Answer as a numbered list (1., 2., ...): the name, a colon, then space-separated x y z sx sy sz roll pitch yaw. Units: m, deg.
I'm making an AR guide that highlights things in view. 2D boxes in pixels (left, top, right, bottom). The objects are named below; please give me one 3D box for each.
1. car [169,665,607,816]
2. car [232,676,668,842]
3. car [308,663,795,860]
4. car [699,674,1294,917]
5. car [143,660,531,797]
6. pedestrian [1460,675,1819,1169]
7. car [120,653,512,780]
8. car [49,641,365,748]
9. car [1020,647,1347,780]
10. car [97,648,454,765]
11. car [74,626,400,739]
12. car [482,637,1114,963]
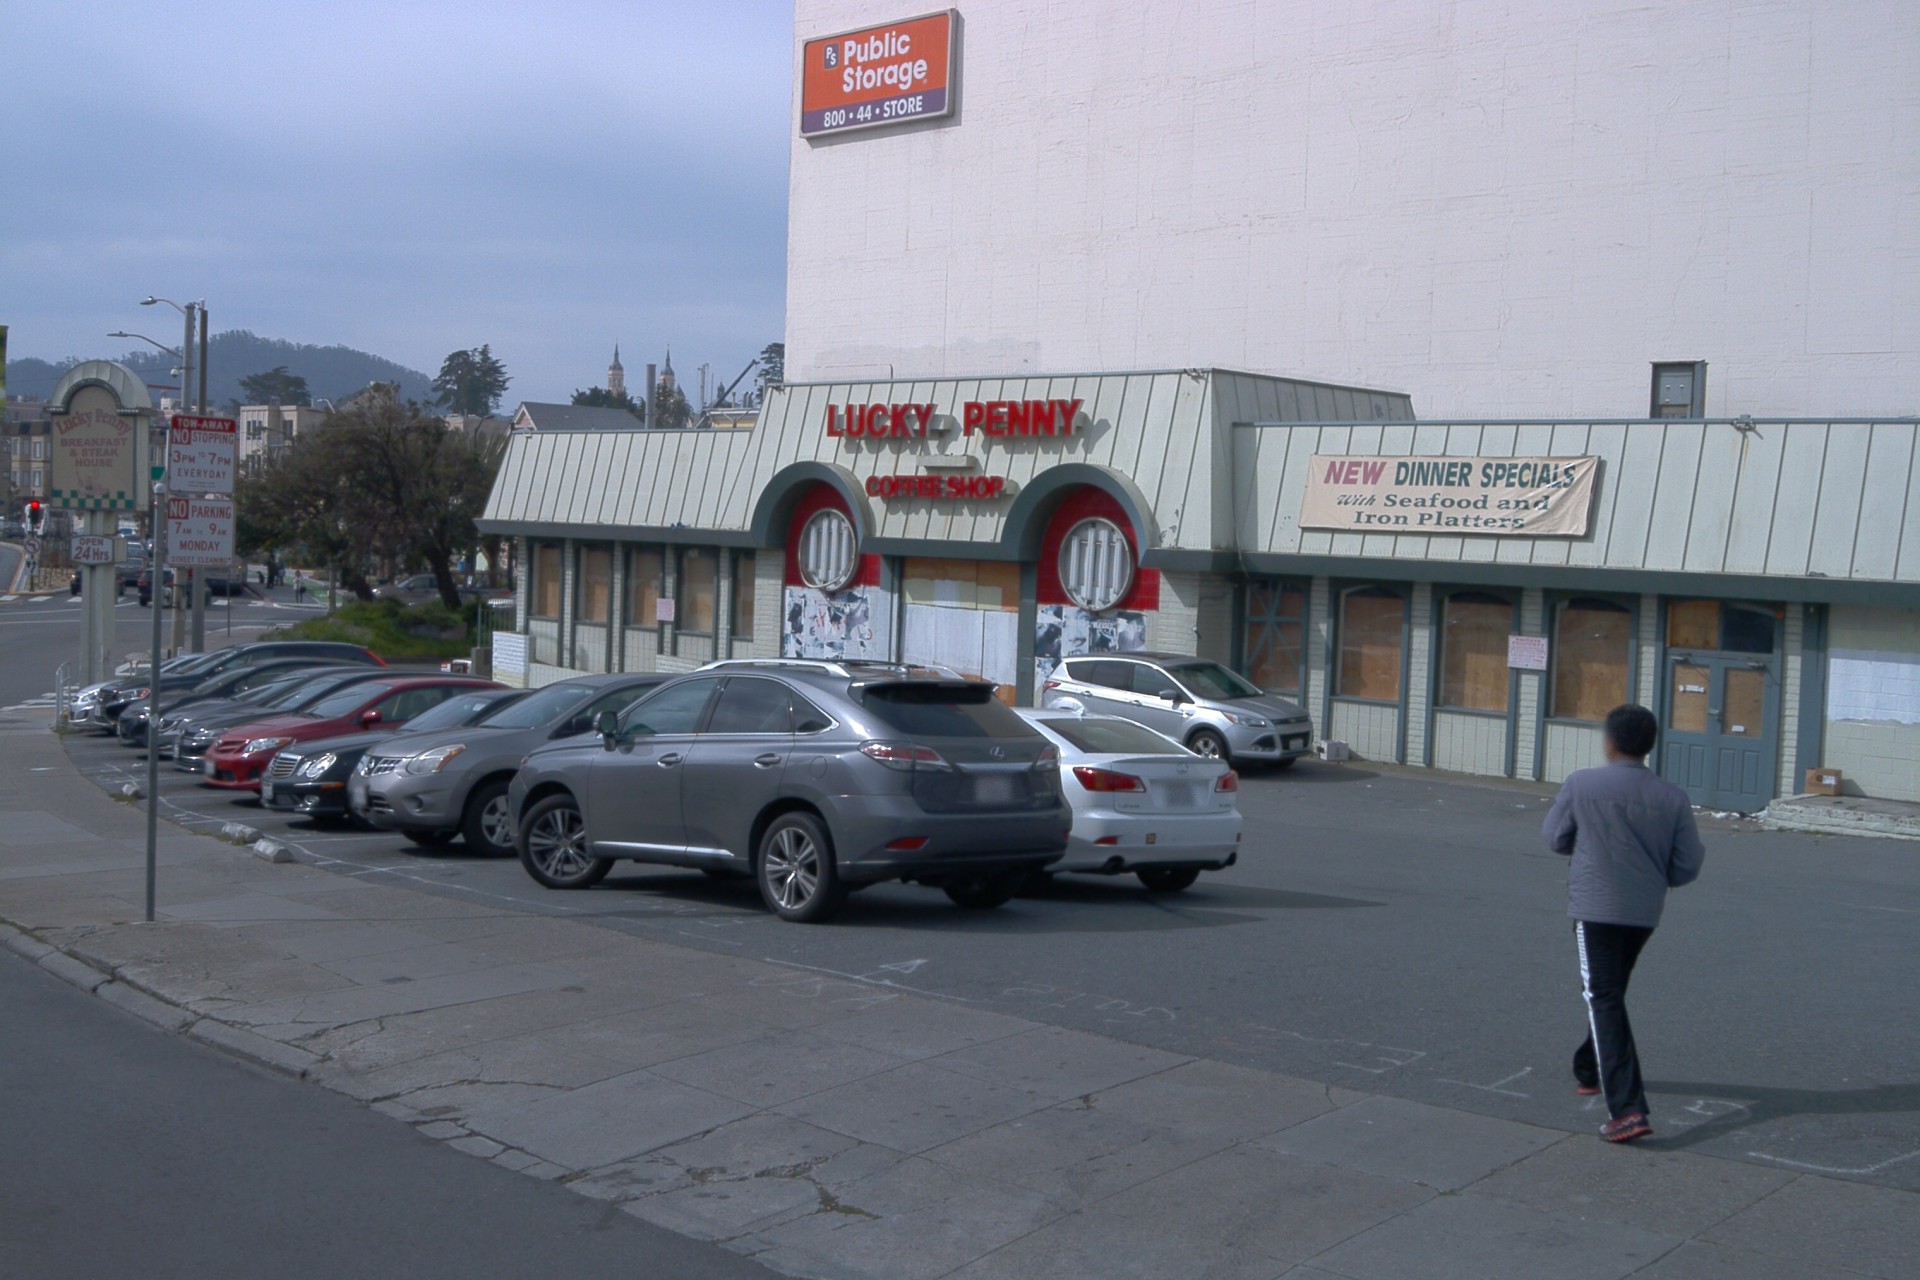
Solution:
1. car: -6.656 1.100 24.116 4.484 1.550 2.134 0 0 -44
2. car: -5.264 1.162 21.427 4.029 1.500 1.869 0 0 -45
3. car: -3.714 1.030 19.045 1.975 1.570 4.019 1 0 44
4. car: 0.159 1.125 16.691 2.088 1.580 4.738 0 0 -44
5. car: -7.972 1.069 26.410 4.343 1.580 1.994 0 0 -43
6. pedestrian: 2.578 1.024 7.894 0.943 1.744 1.076 1 0 -5
7. car: -8.982 1.000 28.782 4.736 1.590 2.241 0 0 -44
8. car: -13.135 0.899 35.855 4.757 1.740 2.072 0 0 -43
9. car: 3.289 1.027 30.718 2.134 1.790 4.557 0 0 -44
10. car: -10.336 0.944 31.104 4.651 1.610 2.192 0 0 -43
11. car: -11.716 0.647 33.333 4.561 1.710 2.059 0 0 -43
12. car: -1.291 0.962 14.599 2.065 1.920 4.493 0 0 -45
